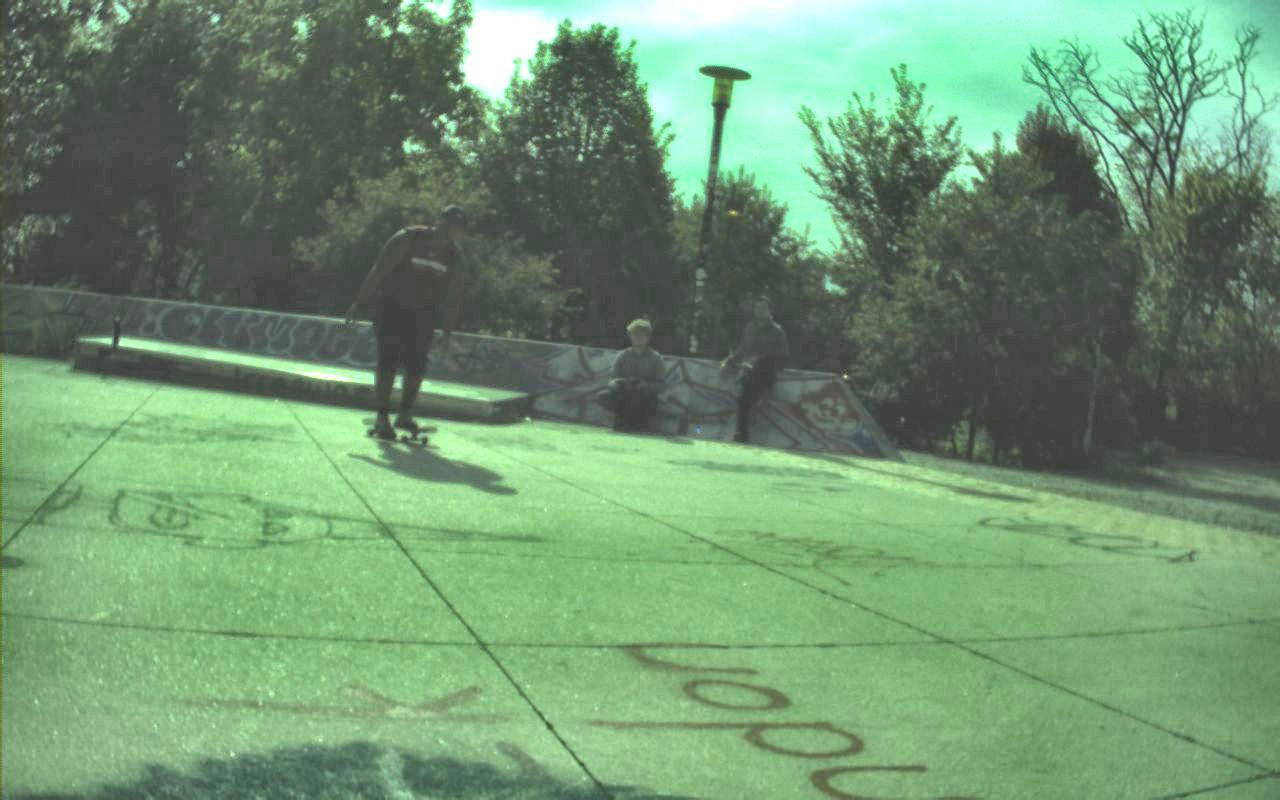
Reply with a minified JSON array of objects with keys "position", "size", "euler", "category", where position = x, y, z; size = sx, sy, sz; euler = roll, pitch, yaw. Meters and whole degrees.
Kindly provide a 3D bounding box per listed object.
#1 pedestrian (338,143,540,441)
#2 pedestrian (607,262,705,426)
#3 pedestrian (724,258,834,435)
[{"position":[-1.307,-0.665,8.064],"size":[0.956,1.788,0.877],"euler":[1,0,34],"category":"pedestrian"},{"position":[0.142,-0.541,12.420],"size":[0.838,1.553,0.788],"euler":[0,0,-9],"category":"pedestrian"},{"position":[1.375,-0.517,12.524],"size":[0.846,1.690,0.805],"euler":[0,0,-16],"category":"pedestrian"}]
